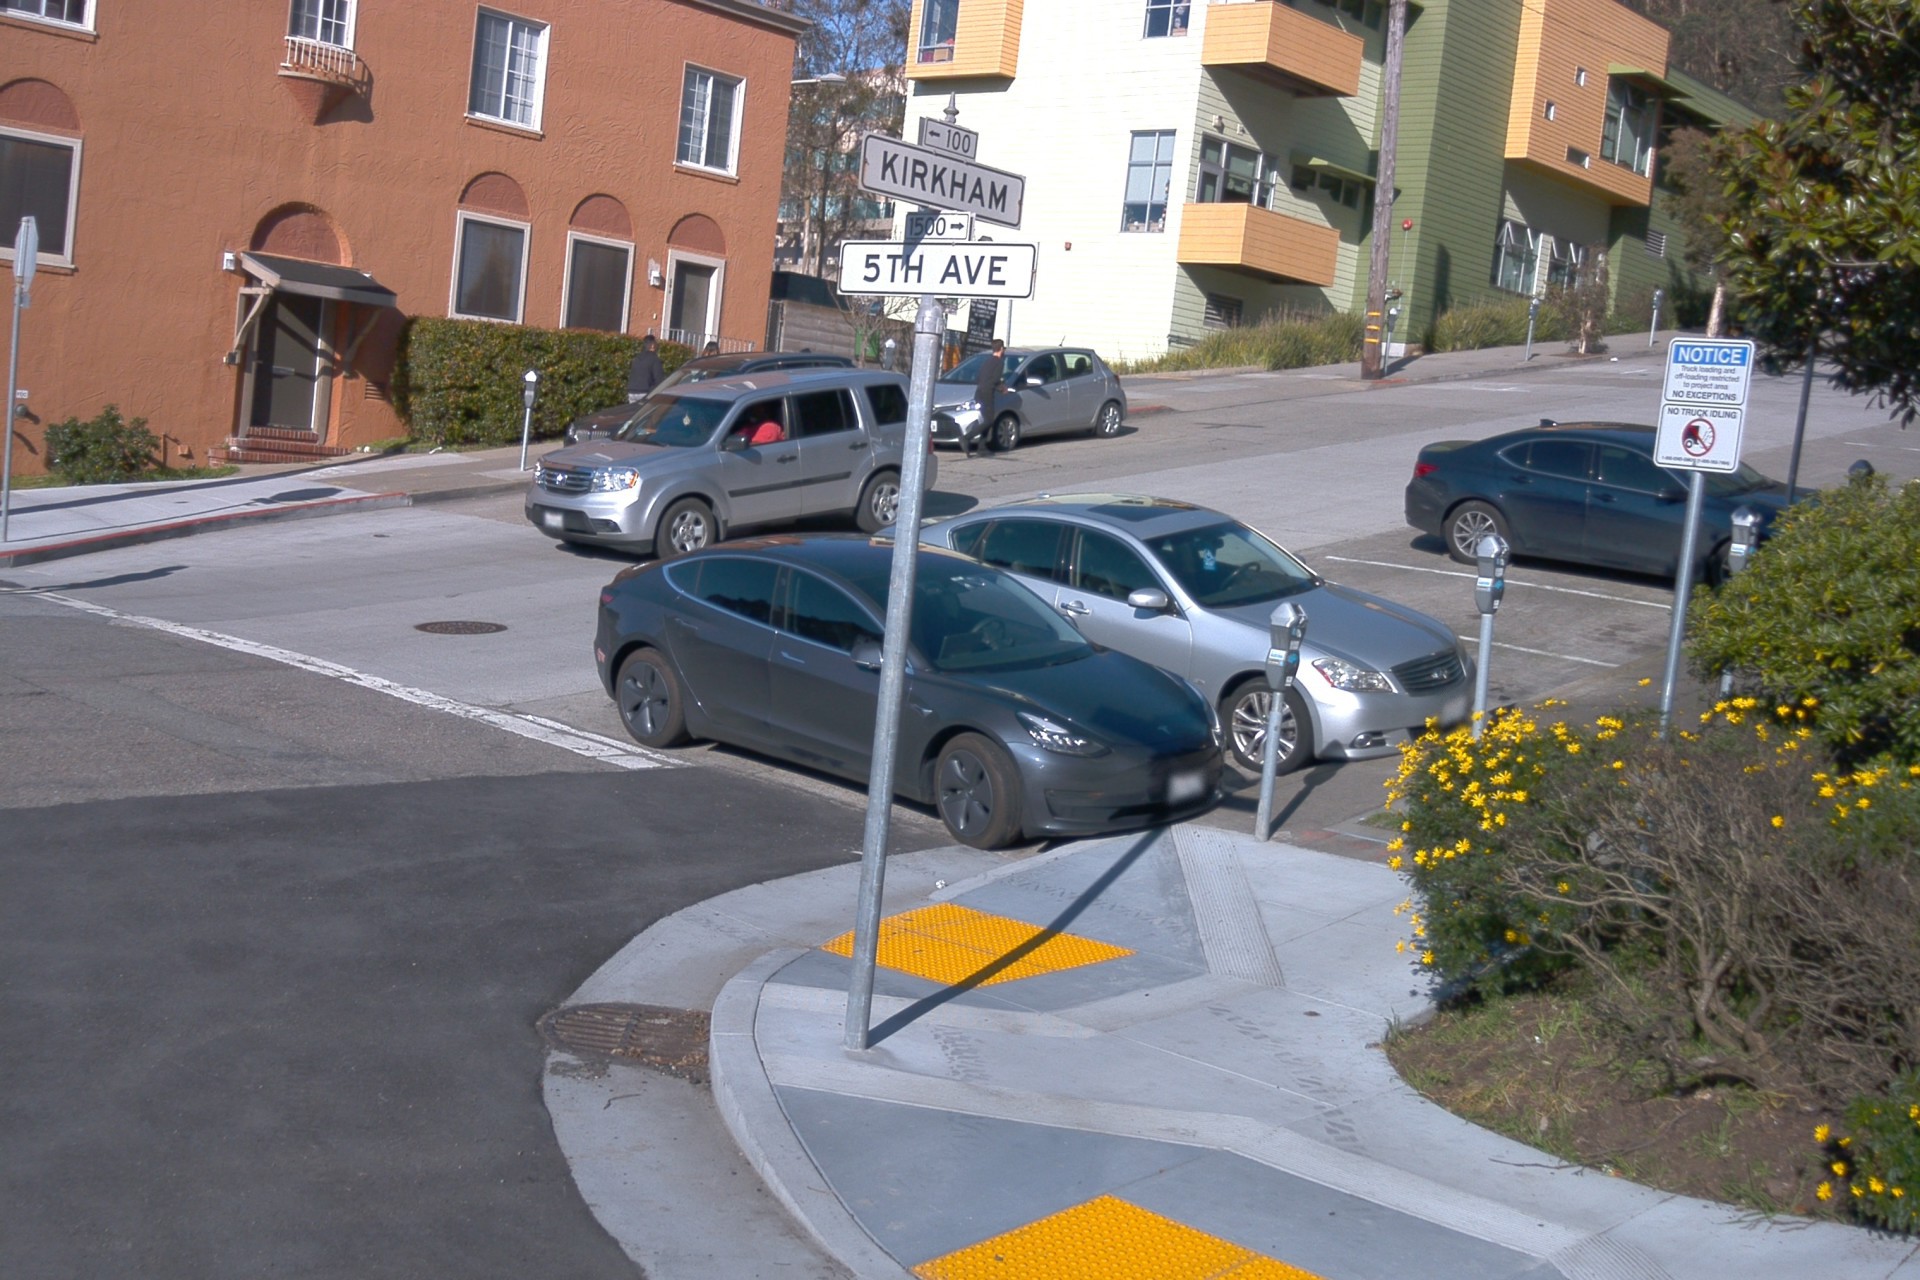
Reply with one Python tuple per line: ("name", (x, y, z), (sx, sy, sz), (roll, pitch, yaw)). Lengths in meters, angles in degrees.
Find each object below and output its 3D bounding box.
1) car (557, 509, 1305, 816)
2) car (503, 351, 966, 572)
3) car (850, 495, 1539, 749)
("car", (-0.332, 0.119, 13.399), (4.636, 1.620, 2.044), (0, 0, 43))
("car", (-2.353, -1.821, 22.885), (4.808, 1.970, 1.976), (1, 0, -44))
("car", (1.582, -0.110, 15.144), (4.561, 1.560, 2.064), (0, 0, 40))
